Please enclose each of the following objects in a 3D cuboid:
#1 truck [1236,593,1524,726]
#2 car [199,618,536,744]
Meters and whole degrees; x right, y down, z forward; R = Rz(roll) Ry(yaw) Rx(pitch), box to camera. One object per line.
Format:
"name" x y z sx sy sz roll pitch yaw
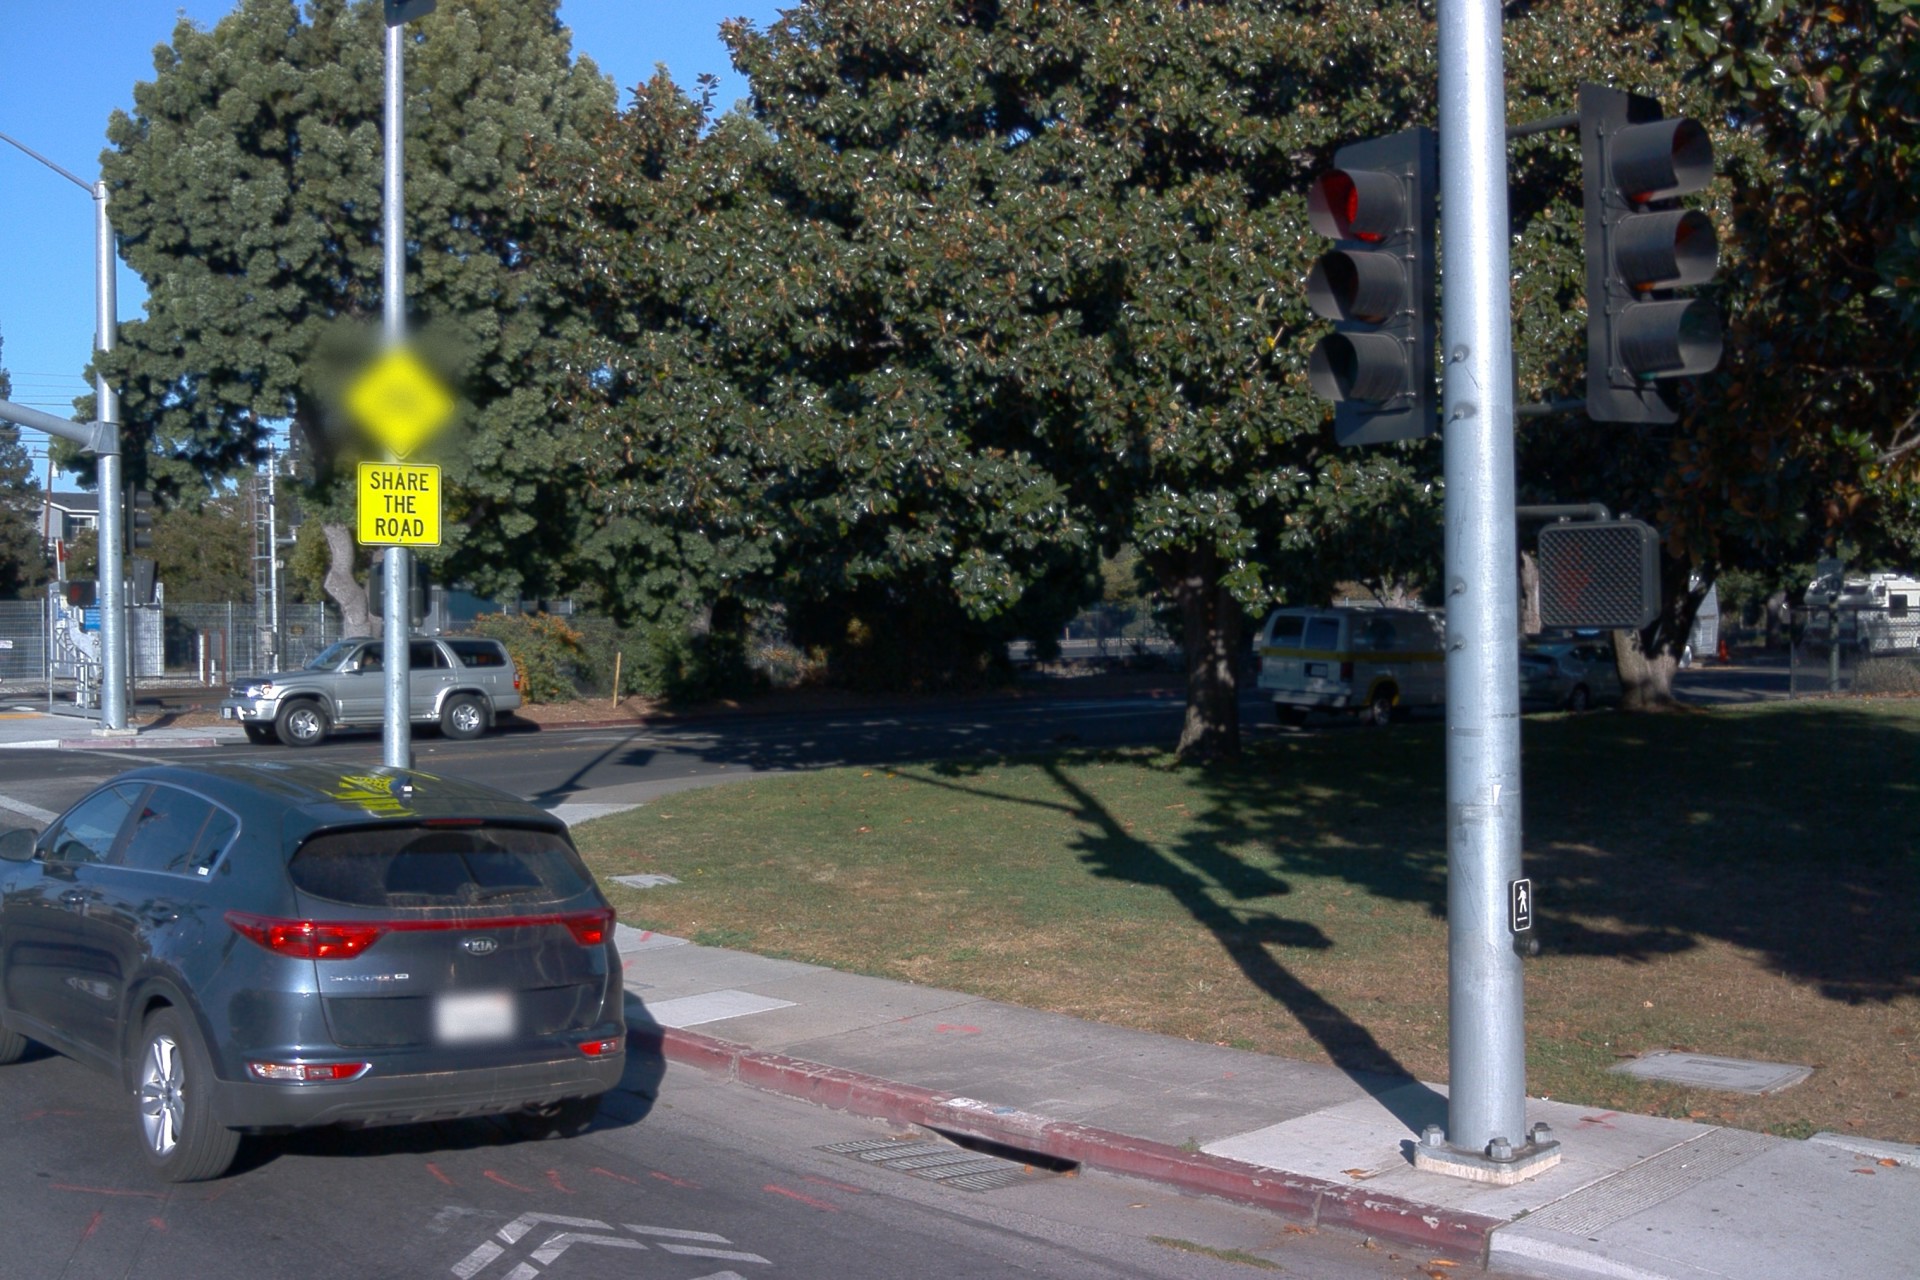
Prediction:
"truck" 7.505 0.372 37.014 2.466 2.180 5.325 0 -1 44
"car" -9.556 0.664 33.924 4.806 1.900 2.064 1 -1 -38
